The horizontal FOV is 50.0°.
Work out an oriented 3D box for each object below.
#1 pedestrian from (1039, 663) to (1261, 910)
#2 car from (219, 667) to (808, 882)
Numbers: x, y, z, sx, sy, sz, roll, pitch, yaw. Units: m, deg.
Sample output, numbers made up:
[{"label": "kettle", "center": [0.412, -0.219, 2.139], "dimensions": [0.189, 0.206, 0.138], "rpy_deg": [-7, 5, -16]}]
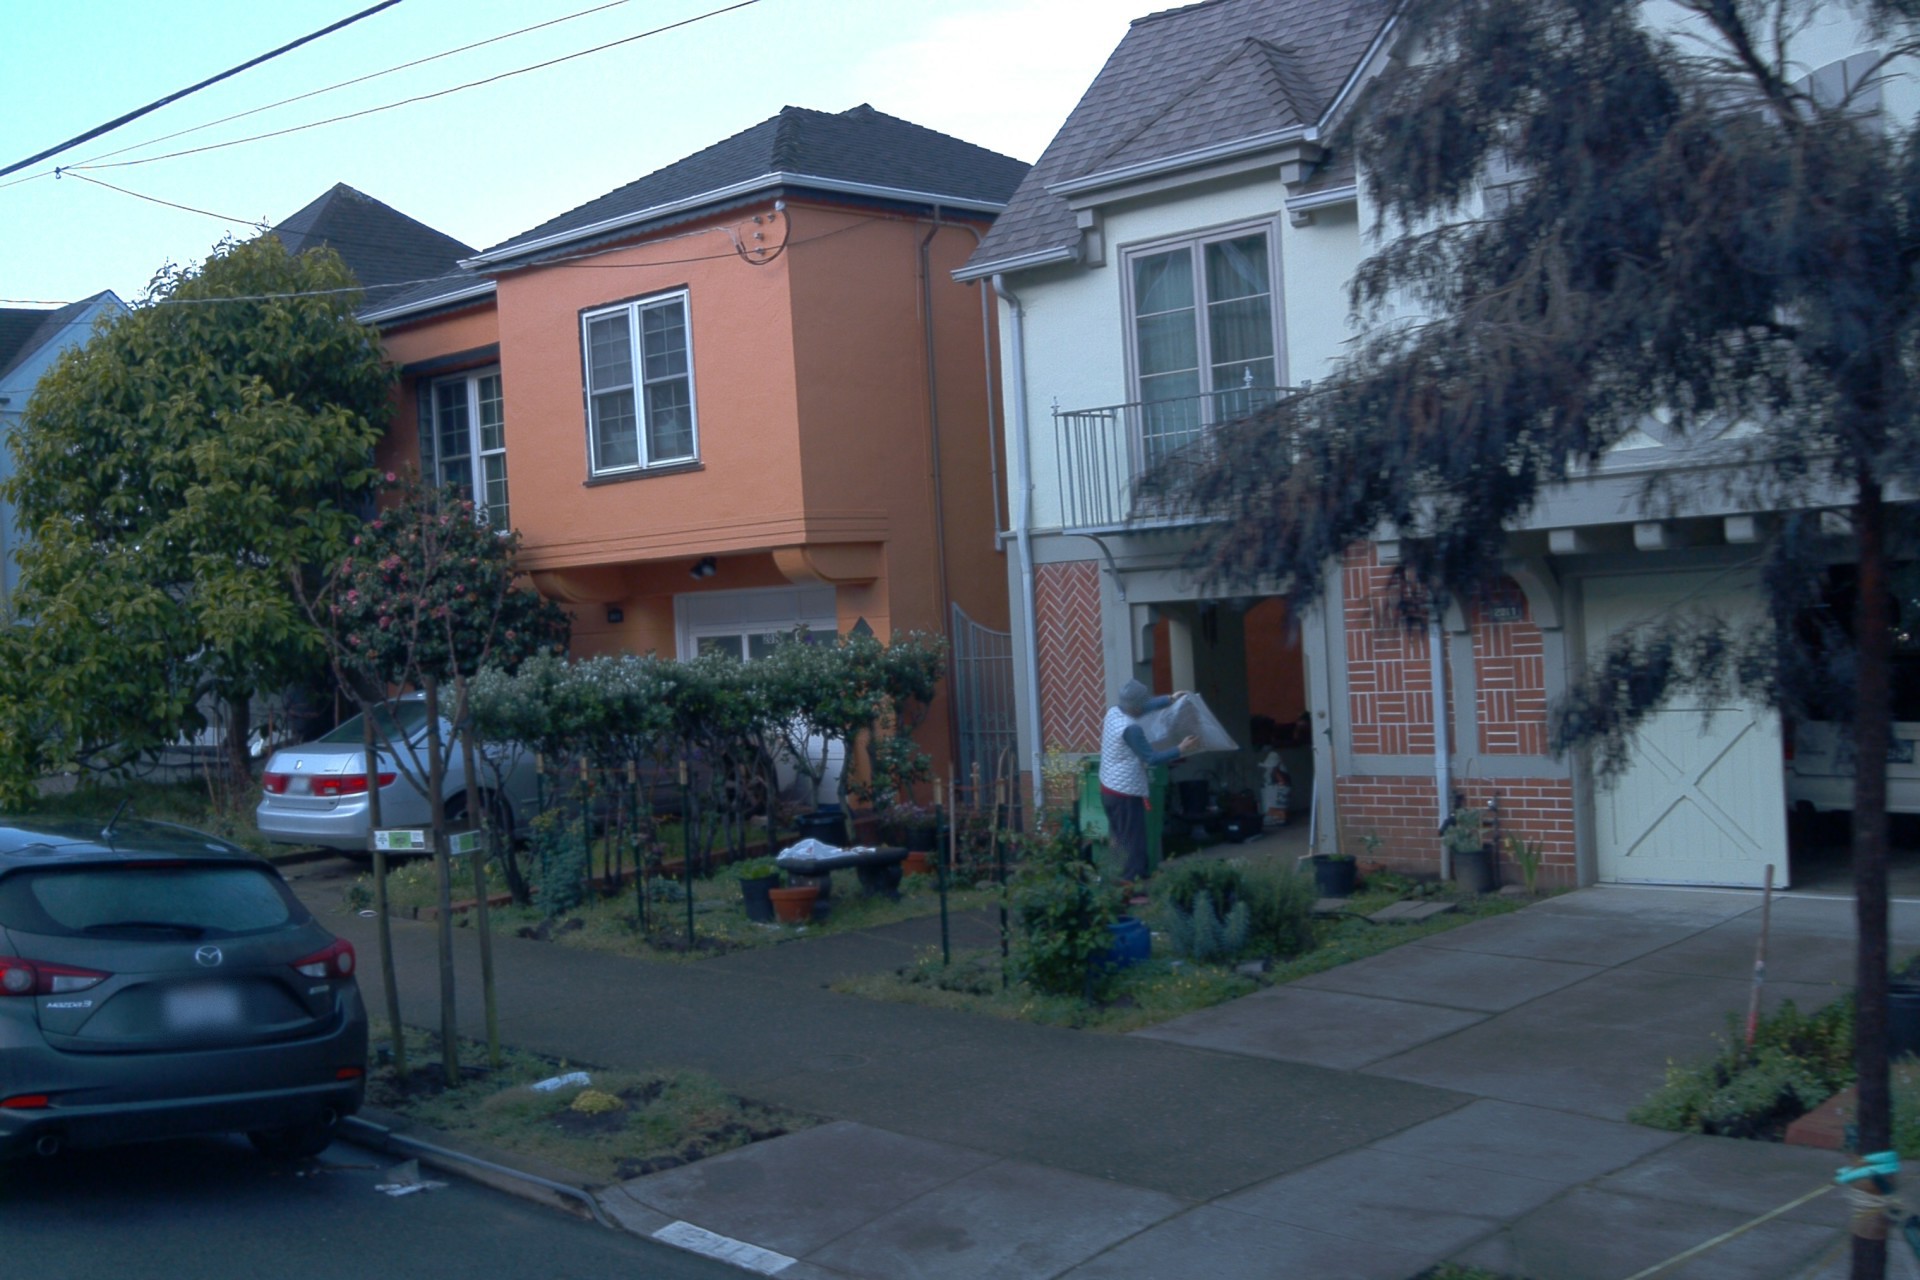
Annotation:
[{"label": "pedestrian", "center": [1.302, 0.974, 14.257], "dimensions": [1.220, 1.620, 1.013], "rpy_deg": [0, 0, -18]}, {"label": "car", "center": [-3.676, 1.028, 17.596], "dimensions": [1.961, 1.540, 4.591], "rpy_deg": [0, 0, 45]}]
